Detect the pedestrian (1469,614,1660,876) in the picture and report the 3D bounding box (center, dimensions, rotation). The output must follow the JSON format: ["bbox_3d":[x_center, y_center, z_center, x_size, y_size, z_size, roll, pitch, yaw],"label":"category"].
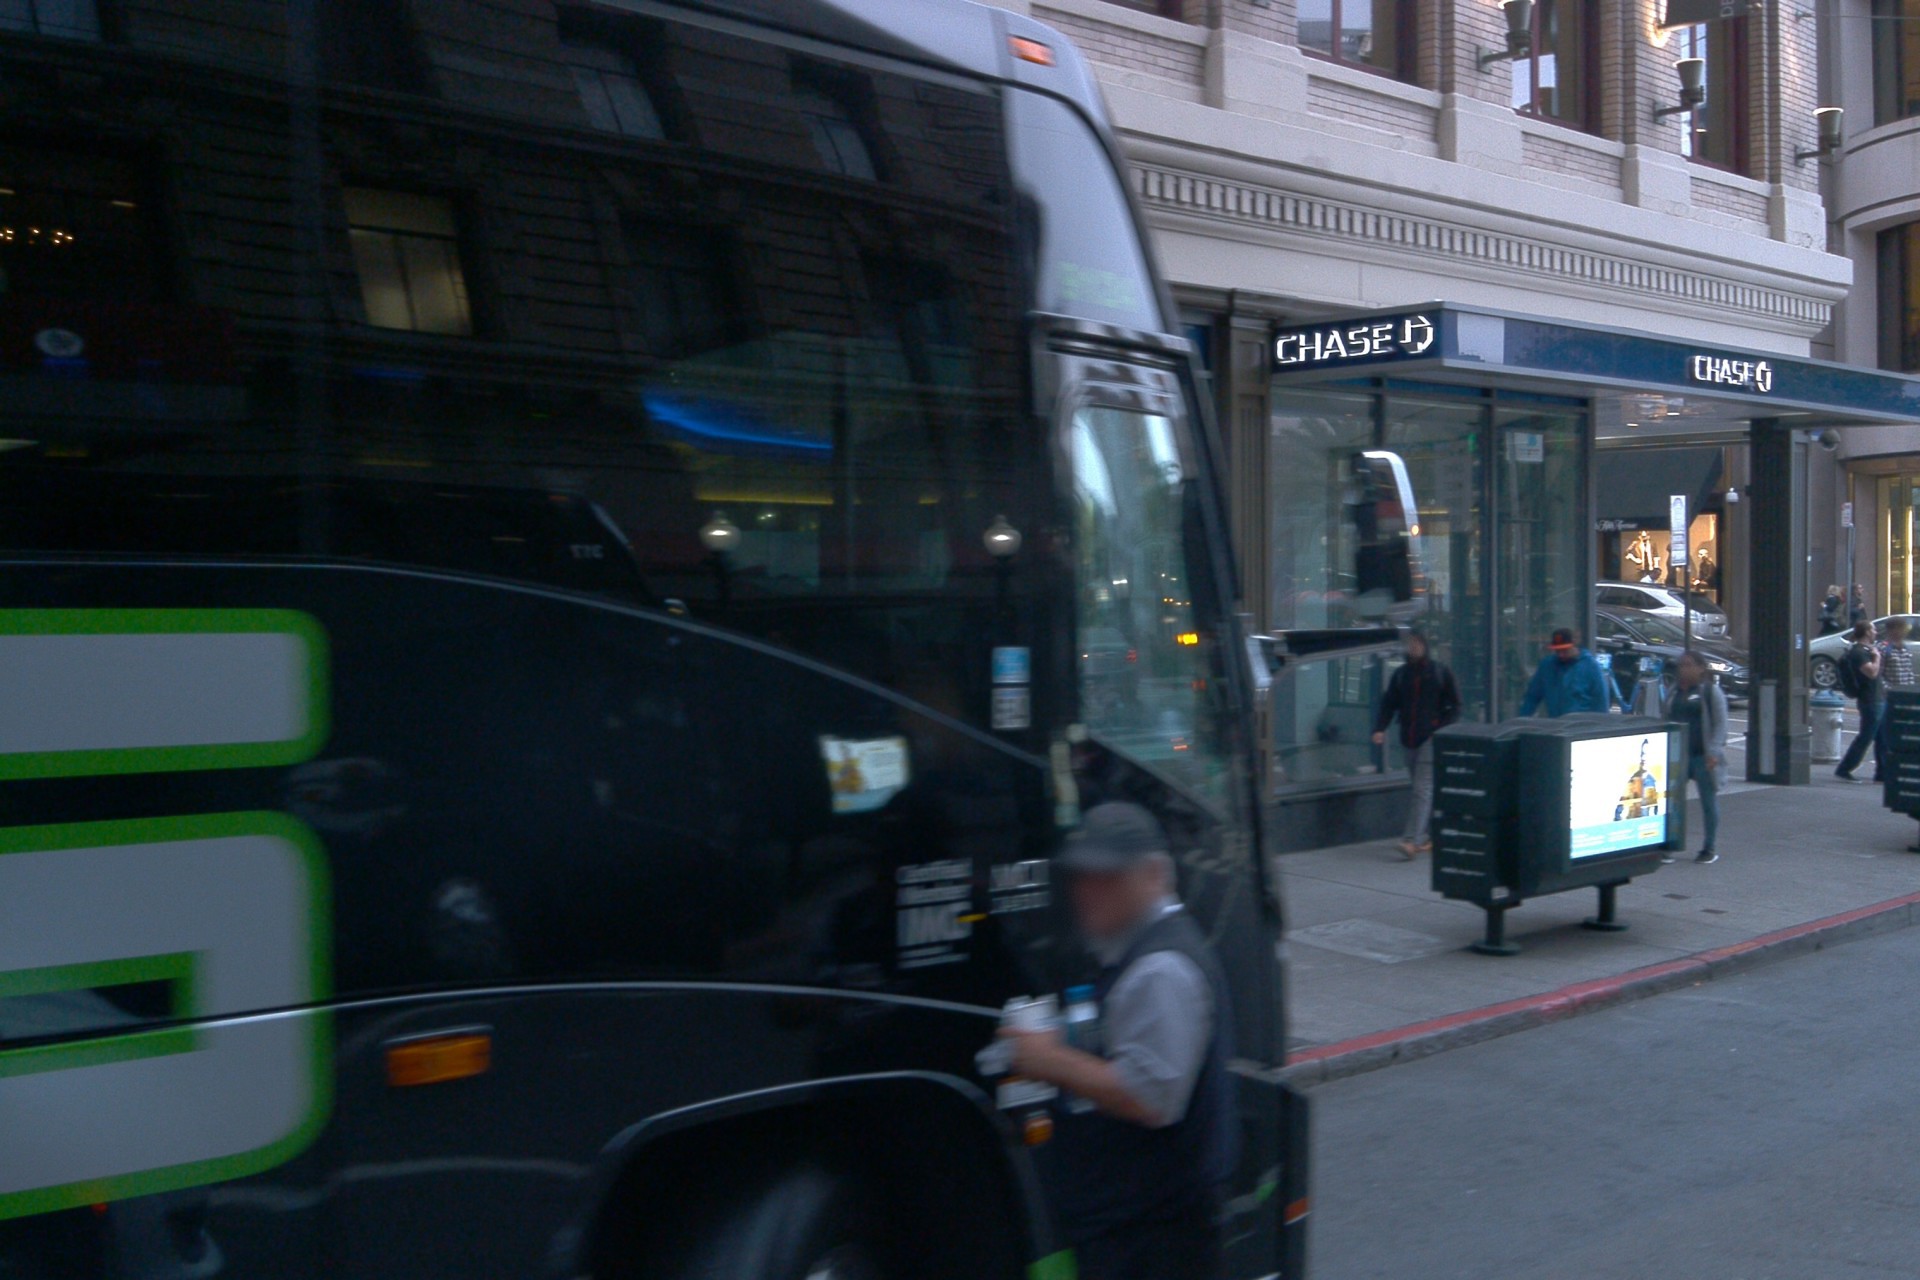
[{"bbox_3d":[4.748,0.783,16.106,1.099,1.960,0.966,0,1,-38],"label":"pedestrian"}]

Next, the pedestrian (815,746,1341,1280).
[{"bbox_3d":[0.270,1.162,4.020,0.750,1.830,0.973,1,1,22],"label":"pedestrian"}]

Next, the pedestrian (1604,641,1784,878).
[{"bbox_3d":[5.561,0.868,15.531,1.010,1.700,0.894,0,1,-42],"label":"pedestrian"}]

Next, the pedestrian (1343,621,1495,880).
[{"bbox_3d":[3.466,0.796,15.463,0.777,1.880,0.882,1,1,41],"label":"pedestrian"}]

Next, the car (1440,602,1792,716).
[{"bbox_3d":[10.311,0.240,32.488,2.103,1.660,4.893,-1,1,-44],"label":"car"}]
